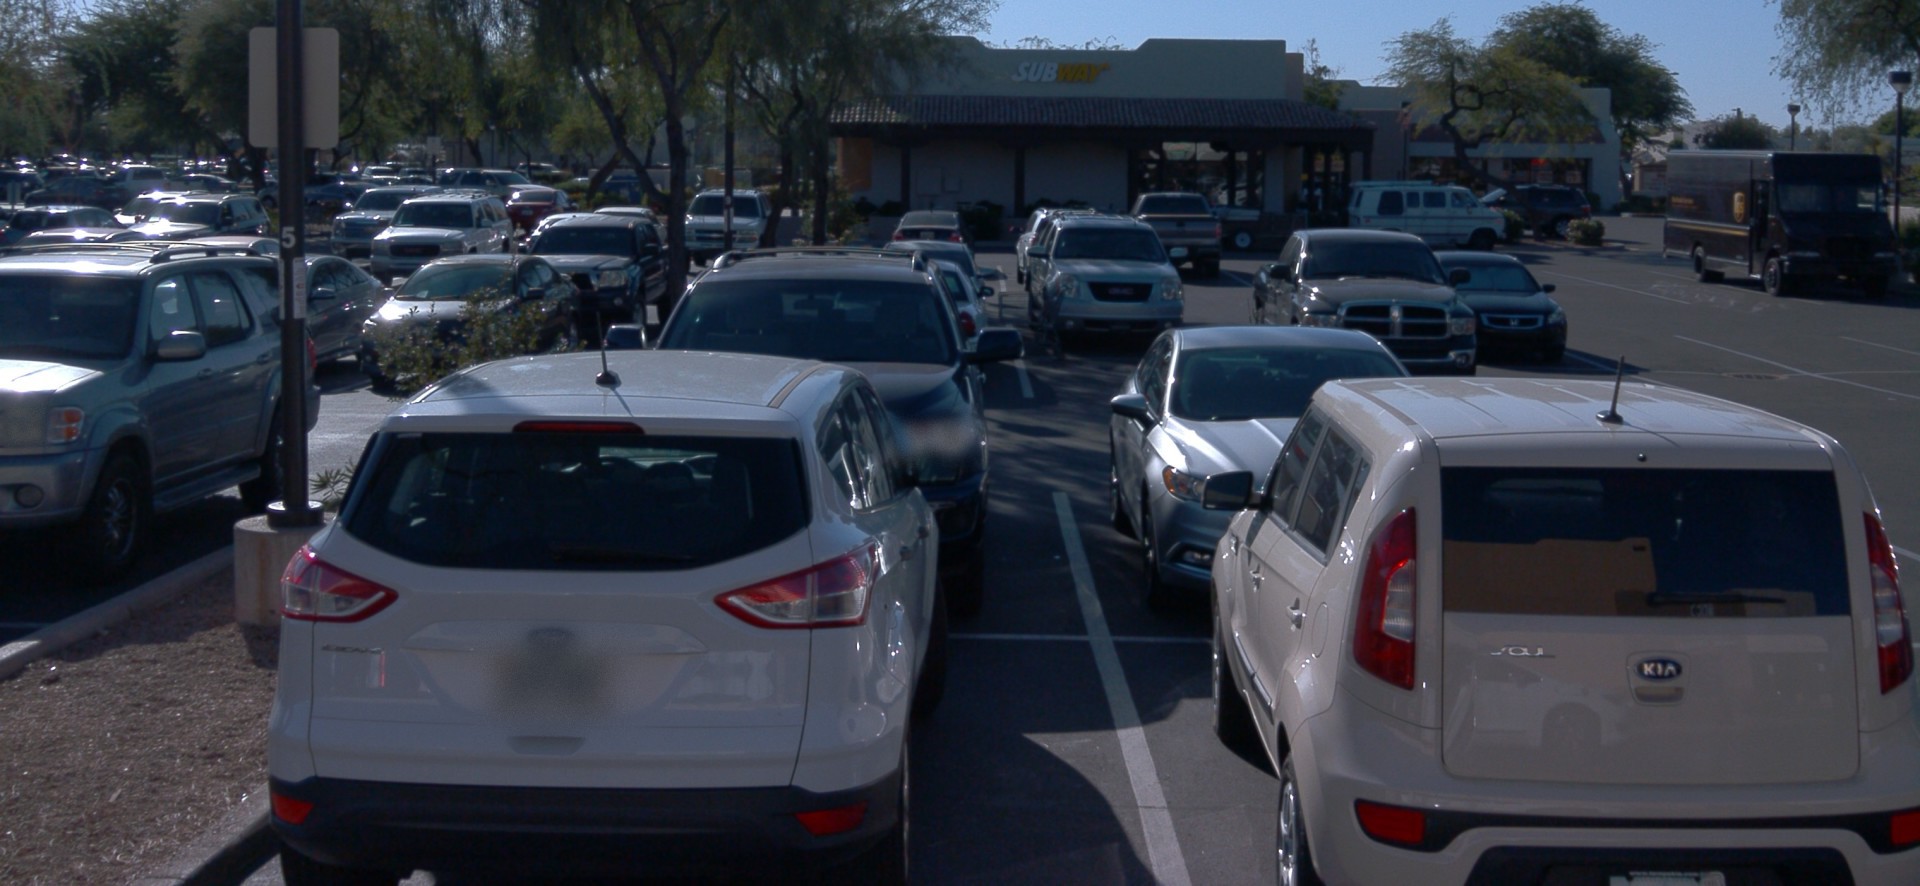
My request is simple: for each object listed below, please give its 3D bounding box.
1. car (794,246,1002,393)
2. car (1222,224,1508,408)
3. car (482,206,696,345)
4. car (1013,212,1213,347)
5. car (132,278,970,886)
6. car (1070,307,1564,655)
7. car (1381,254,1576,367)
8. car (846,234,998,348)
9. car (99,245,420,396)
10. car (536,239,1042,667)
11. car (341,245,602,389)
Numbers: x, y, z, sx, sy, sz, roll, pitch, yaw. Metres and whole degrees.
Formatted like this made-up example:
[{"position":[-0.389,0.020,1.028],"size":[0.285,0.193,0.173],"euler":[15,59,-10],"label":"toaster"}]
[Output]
[{"position":[-0.645,-1.631,25.892],"size":[2.256,1.562,5.128],"euler":[1,6,2],"label":"car"},{"position":[4.913,-1.728,26.180],"size":[2.523,2.021,5.784],"euler":[1,6,1],"label":"car"},{"position":[-5.520,-2.619,31.611],"size":[2.086,1.901,5.342],"euler":[1,5,2],"label":"car"},{"position":[2.235,-2.593,31.998],"size":[2.481,1.891,5.237],"euler":[0,5,-2],"label":"car"},{"position":[-1.052,0.349,7.576],"size":[2.094,1.752,4.697],"euler":[1,5,-1],"label":"car"},{"position":[1.930,0.042,12.847],"size":[2.170,1.543,4.761],"euler":[1,6,-1],"label":"car"},{"position":[7.736,-2.062,31.403],"size":[1.976,1.493,4.498],"euler":[1,6,2],"label":"car"},{"position":[-0.507,-2.365,31.432],"size":[2.127,1.553,4.507],"euler":[1,6,1],"label":"car"},{"position":[-8.482,-1.602,25.667],"size":[2.180,1.602,4.851],"euler":[1,6,2],"label":"car"},{"position":[-0.872,-0.198,12.869],"size":[2.497,2.061,5.138],"euler":[1,5,-1],"label":"car"},{"position":[-5.900,-1.638,25.661],"size":[2.083,1.543,4.565],"euler":[1,6,1],"label":"car"}]
